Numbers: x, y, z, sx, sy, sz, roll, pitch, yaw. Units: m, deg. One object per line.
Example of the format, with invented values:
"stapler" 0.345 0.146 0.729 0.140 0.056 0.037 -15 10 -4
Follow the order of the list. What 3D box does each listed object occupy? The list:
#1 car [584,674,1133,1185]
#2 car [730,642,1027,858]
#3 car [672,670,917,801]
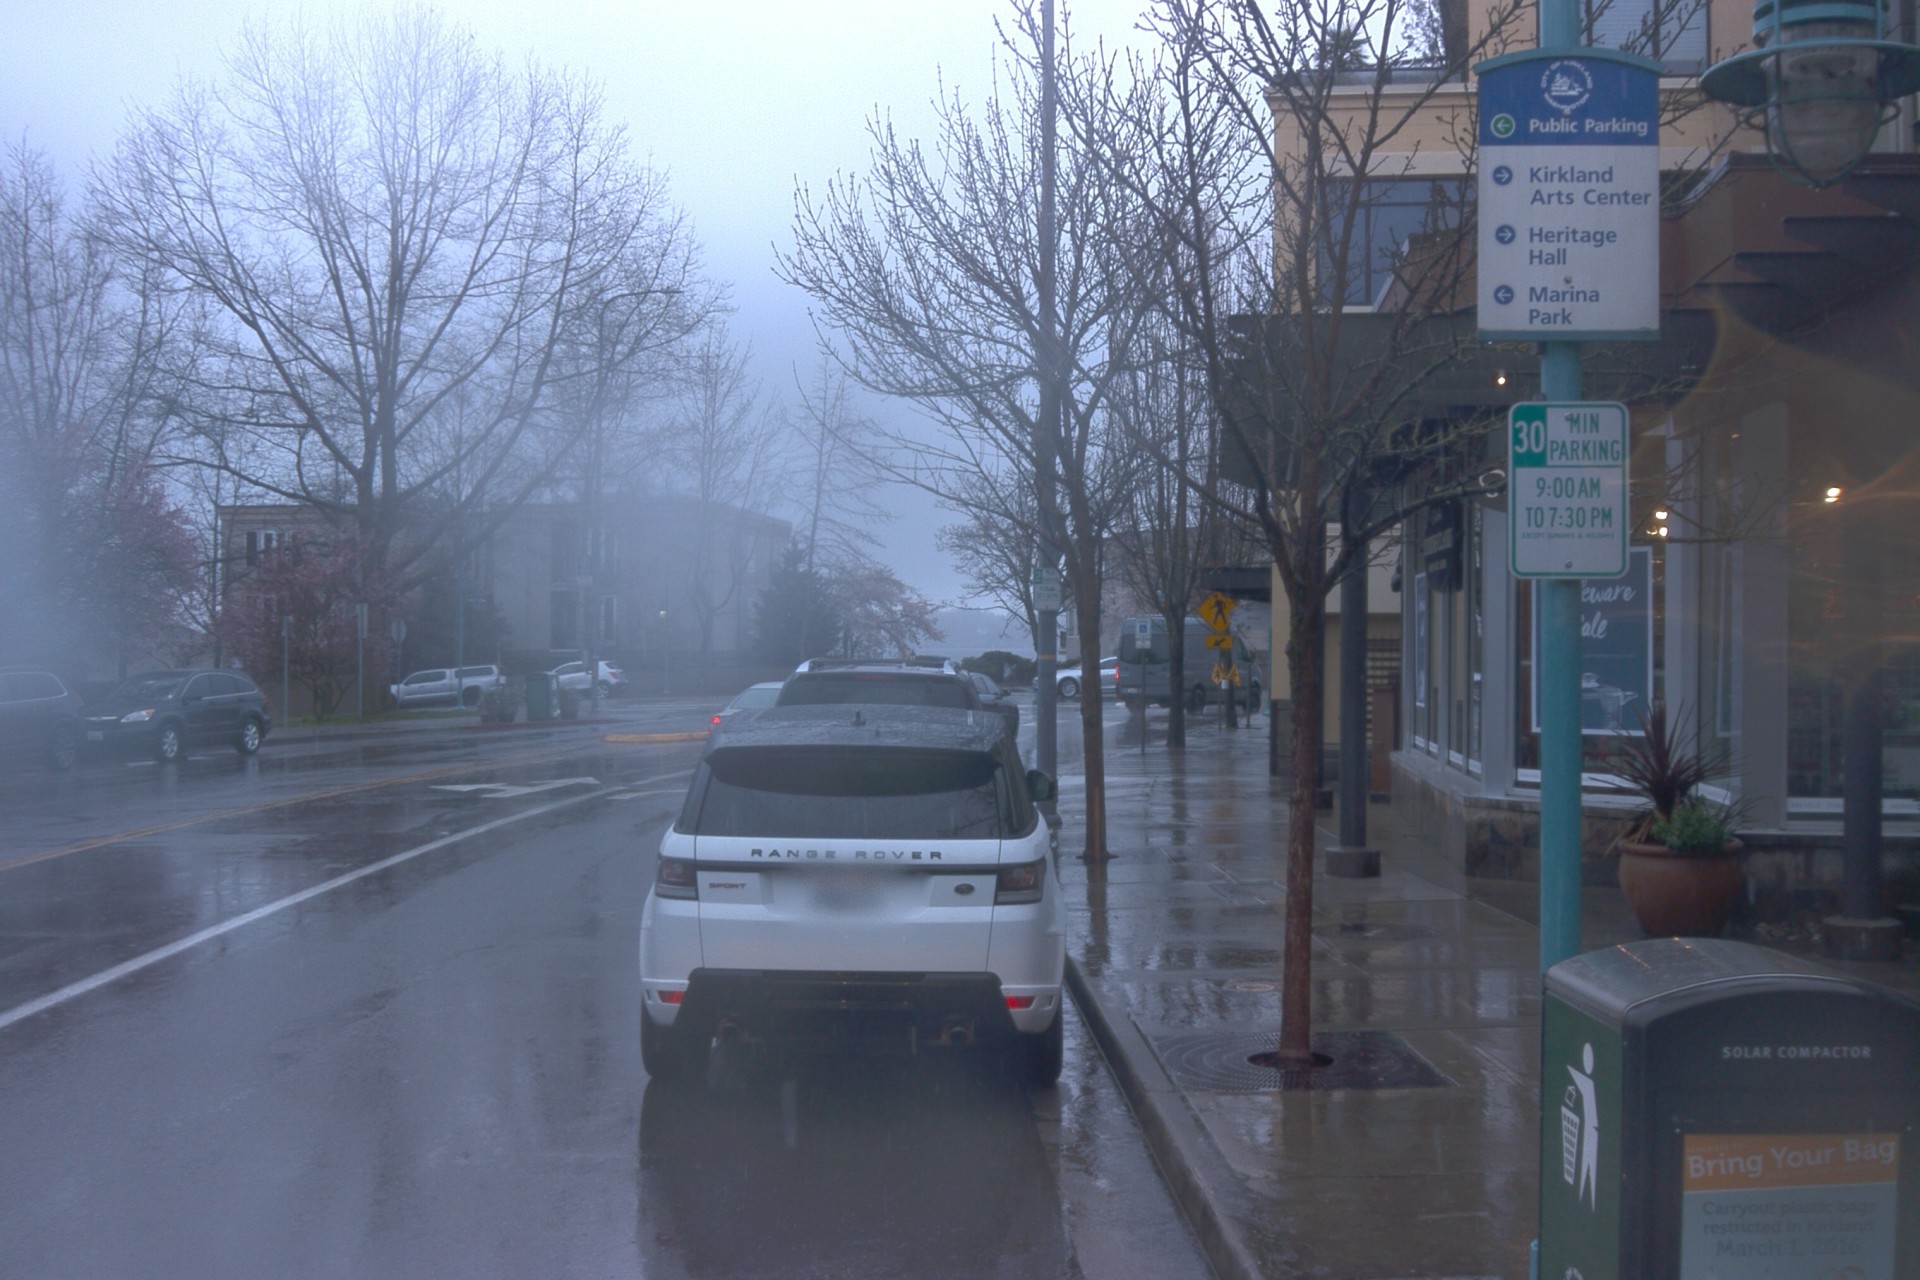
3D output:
"car" -0.519 1.261 11.131 2.265 2.000 5.125 1 0 -2
"car" -0.711 0.833 17.964 2.210 1.560 5.097 1 0 -2
"car" -2.237 1.278 29.191 2.046 1.580 4.853 1 0 13
